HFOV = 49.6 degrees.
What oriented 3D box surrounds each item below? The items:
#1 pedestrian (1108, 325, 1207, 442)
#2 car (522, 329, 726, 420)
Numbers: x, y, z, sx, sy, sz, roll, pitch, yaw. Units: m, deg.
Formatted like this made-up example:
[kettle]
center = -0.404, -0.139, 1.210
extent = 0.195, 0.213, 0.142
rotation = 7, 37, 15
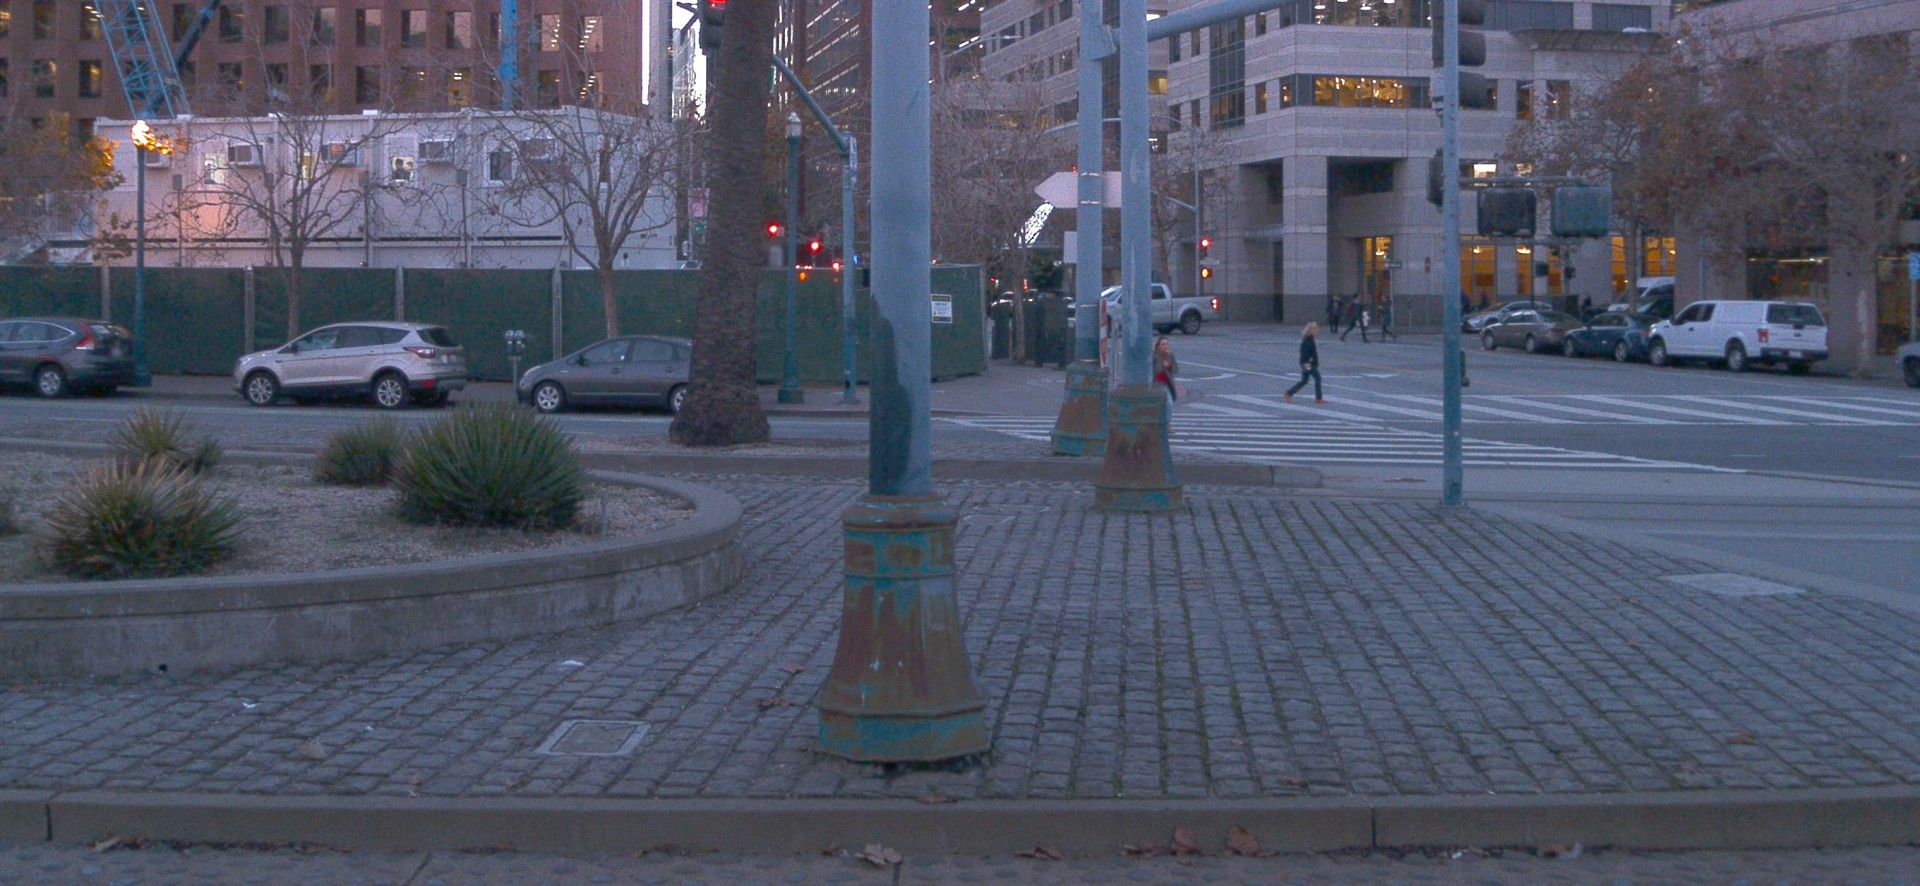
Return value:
[pedestrian]
center = 3.017, -0.937, 31.769
extent = 1.055, 1.677, 1.162
rotation = -1, 3, -25
[car]
center = -6.209, -1.293, 38.464
extent = 3.390, 1.486, 1.558
rotation = 2, 4, 17
